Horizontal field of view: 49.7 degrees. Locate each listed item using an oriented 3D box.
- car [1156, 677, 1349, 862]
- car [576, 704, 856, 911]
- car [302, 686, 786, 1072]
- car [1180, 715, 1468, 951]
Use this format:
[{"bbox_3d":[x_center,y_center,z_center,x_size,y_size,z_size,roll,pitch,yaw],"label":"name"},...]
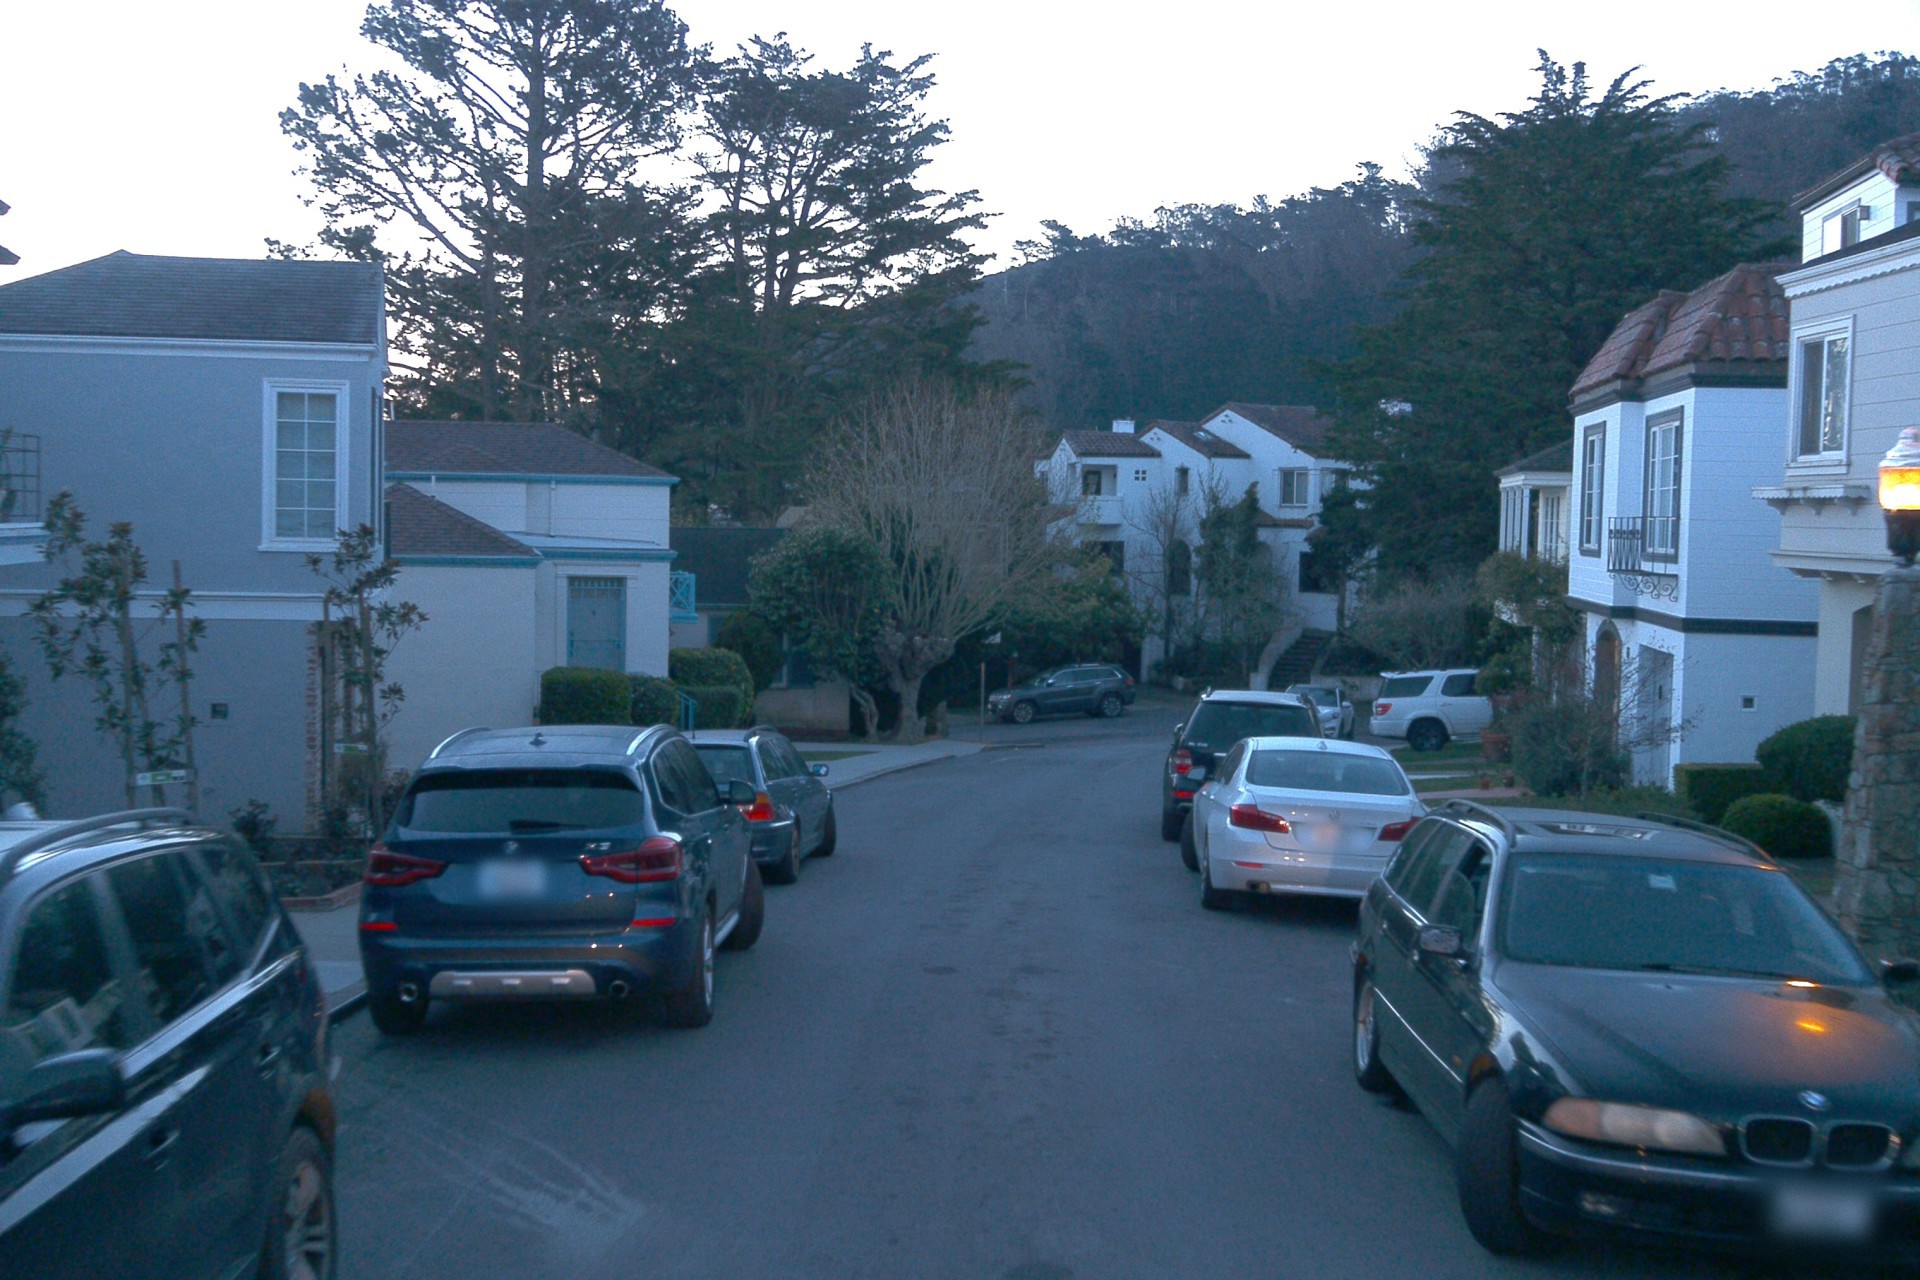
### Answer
[{"bbox_3d":[3.507,1.440,24.775,2.081,1.940,4.624,0,0,8],"label":"car"},{"bbox_3d":[-2.193,1.491,19.876,1.918,1.640,4.464,0,0,3],"label":"car"},{"bbox_3d":[-2.300,1.259,12.835,2.209,1.870,4.685,0,0,-2],"label":"car"},{"bbox_3d":[3.073,1.575,18.480,2.106,1.660,4.902,0,0,5],"label":"car"}]
